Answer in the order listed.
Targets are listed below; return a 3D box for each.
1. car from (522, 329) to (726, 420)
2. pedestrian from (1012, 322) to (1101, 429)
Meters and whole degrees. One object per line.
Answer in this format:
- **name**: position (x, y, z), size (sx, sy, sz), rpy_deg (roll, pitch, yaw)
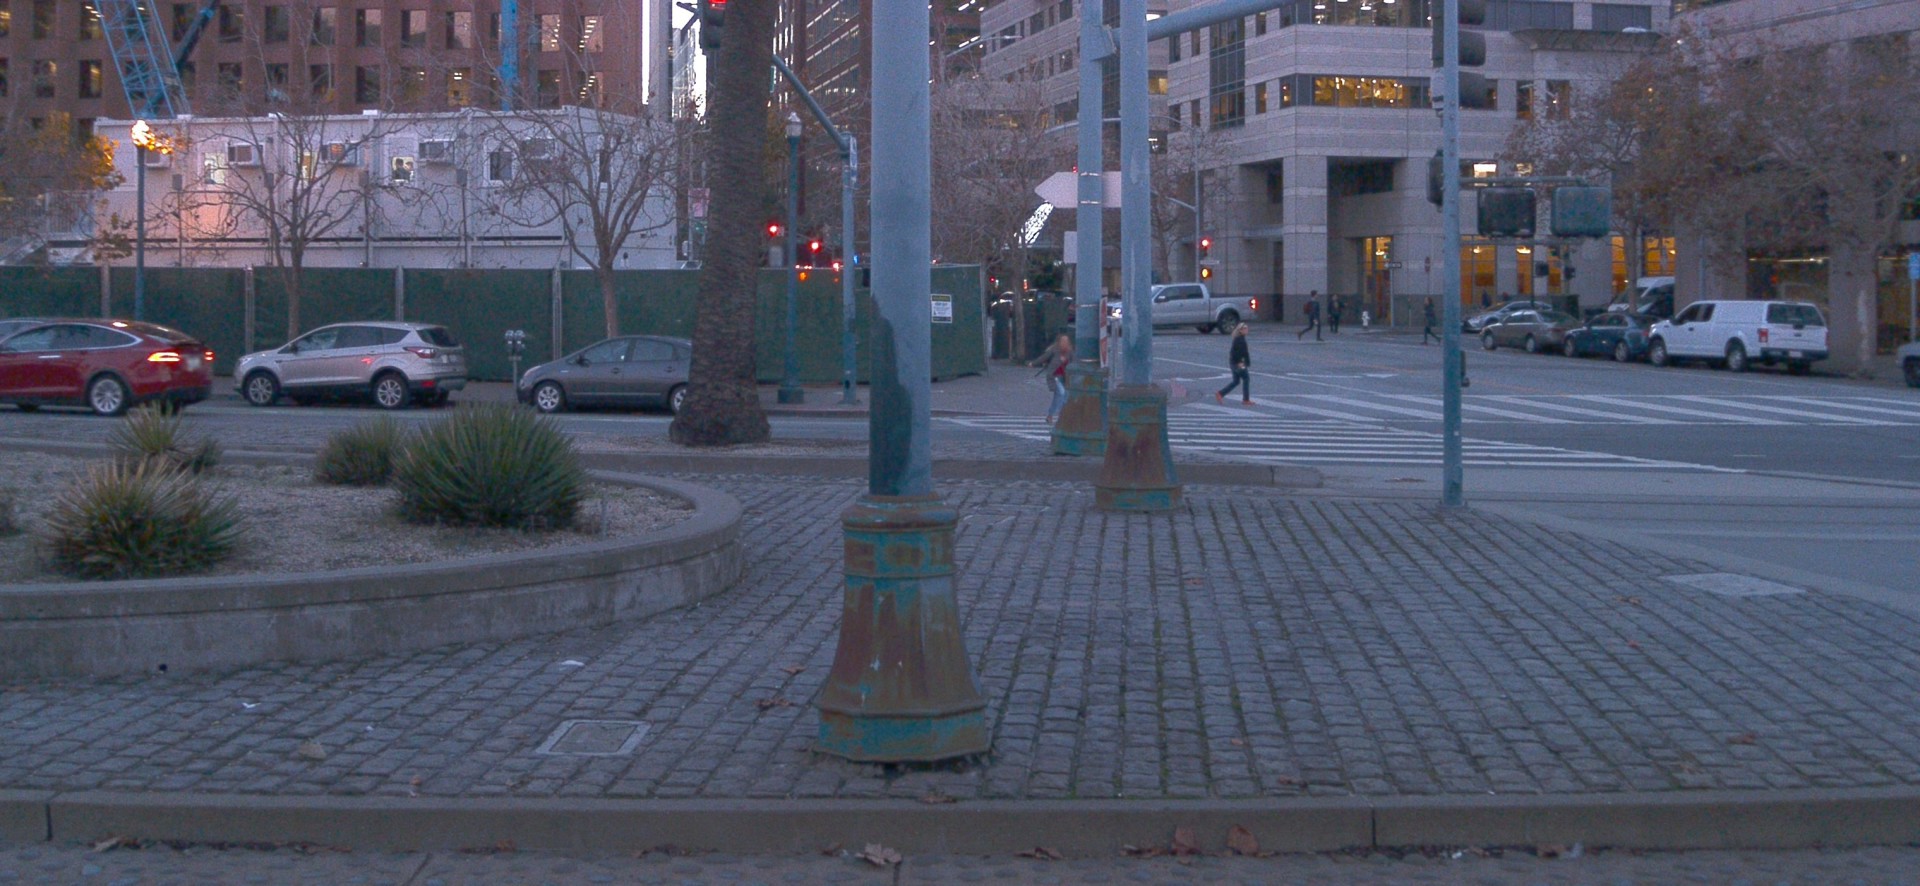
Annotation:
- **car**: position (-6.208, -1.297, 38.464), size (3.390, 1.486, 1.558), rpy_deg (2, 4, 17)
- **pedestrian**: position (1.599, -1.137, 34.534), size (1.055, 1.677, 1.162), rpy_deg (-1, 3, -25)
